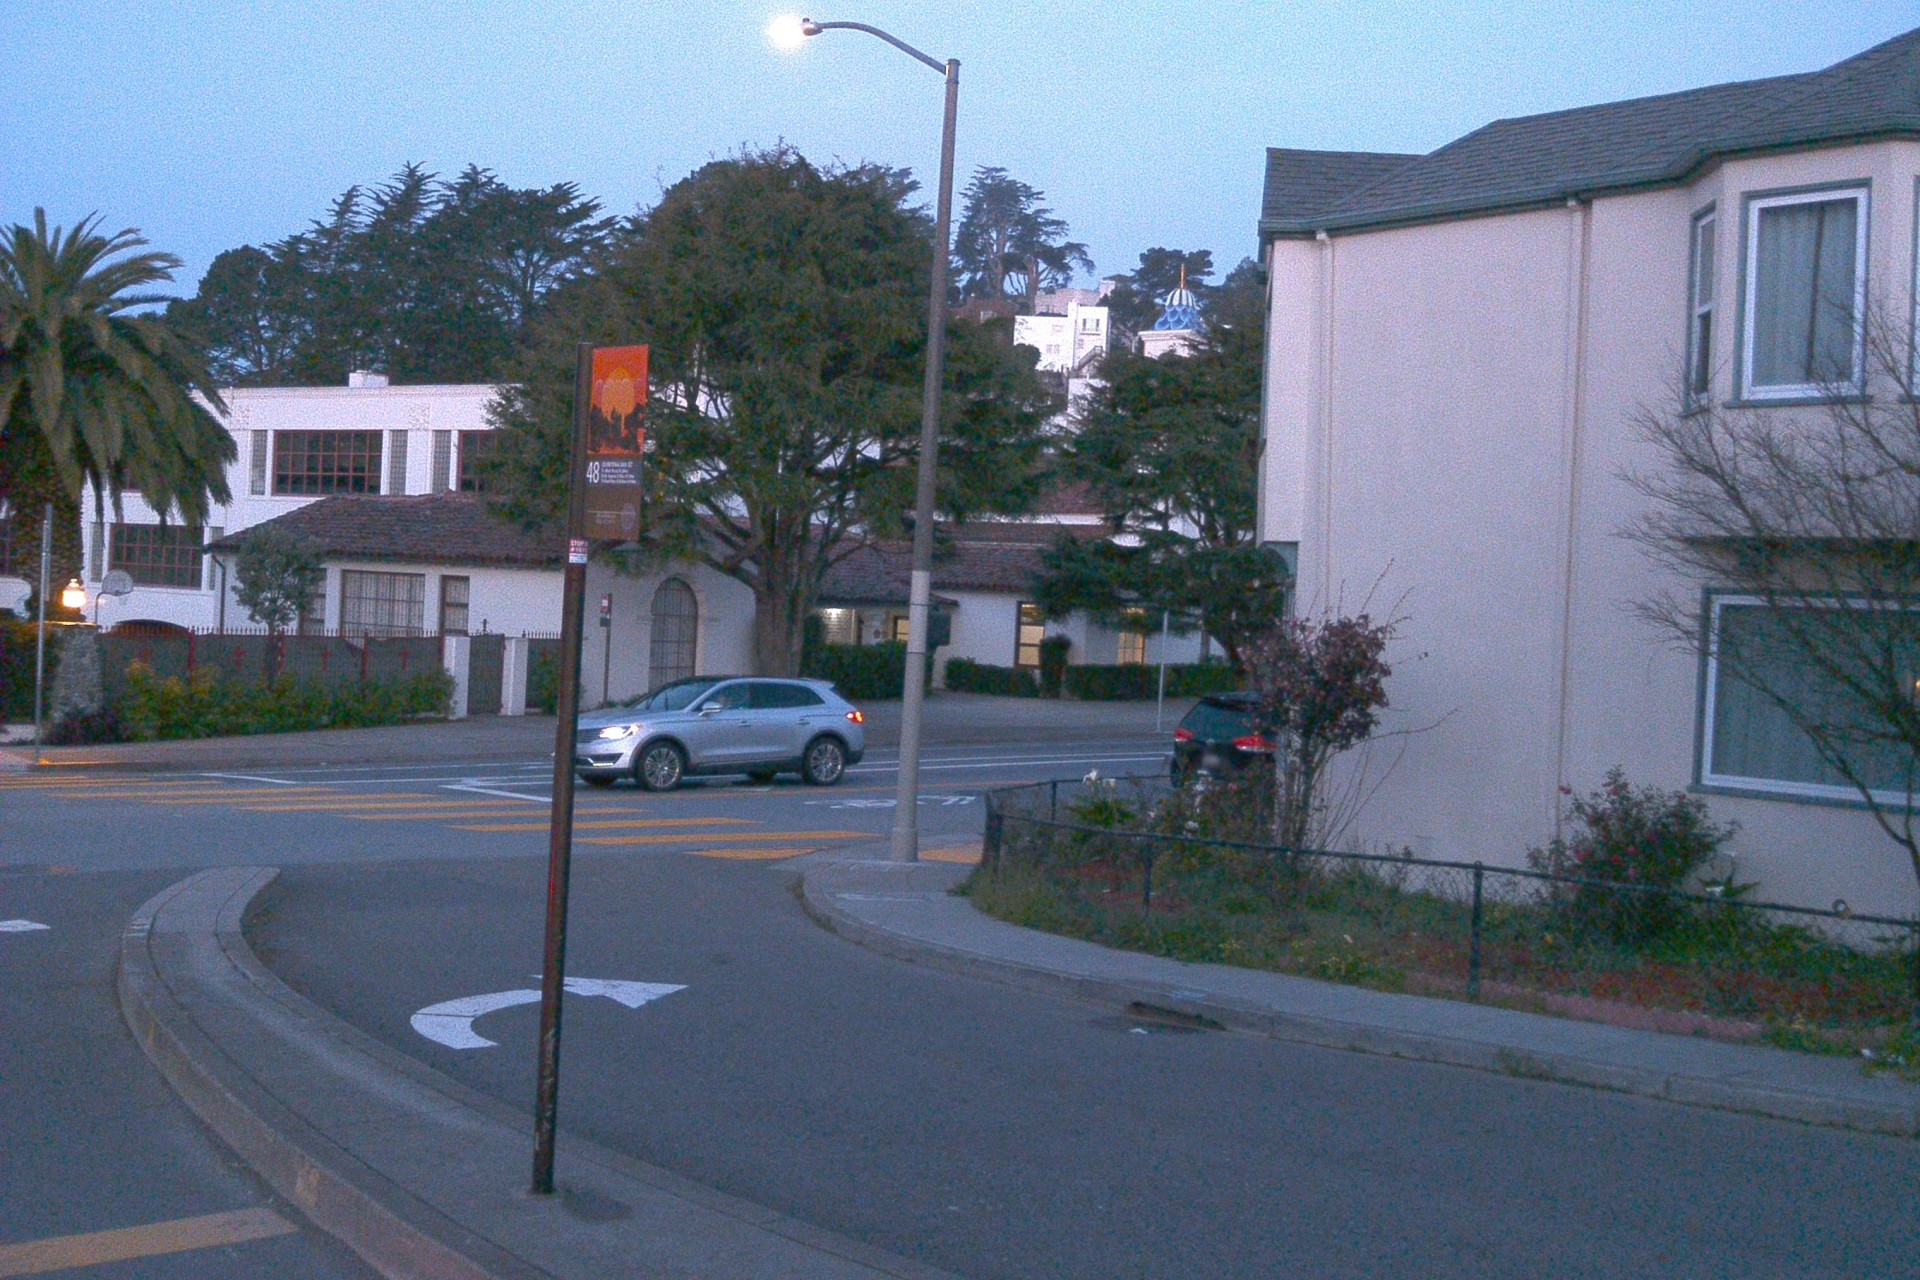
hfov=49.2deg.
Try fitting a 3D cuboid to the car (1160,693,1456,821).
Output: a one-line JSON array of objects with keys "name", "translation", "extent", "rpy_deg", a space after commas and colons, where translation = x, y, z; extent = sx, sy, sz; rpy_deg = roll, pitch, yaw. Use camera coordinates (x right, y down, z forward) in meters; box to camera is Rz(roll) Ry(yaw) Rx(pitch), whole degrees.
[{"name": "car", "translation": [5.027, 1.626, 30.201], "extent": [3.819, 1.660, 2.058], "rpy_deg": [1, 0, -34]}]

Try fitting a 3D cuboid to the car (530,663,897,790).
[{"name": "car", "translation": [-3.603, 1.219, 31.138], "extent": [5.027, 1.730, 2.150], "rpy_deg": [1, 0, -39]}]
